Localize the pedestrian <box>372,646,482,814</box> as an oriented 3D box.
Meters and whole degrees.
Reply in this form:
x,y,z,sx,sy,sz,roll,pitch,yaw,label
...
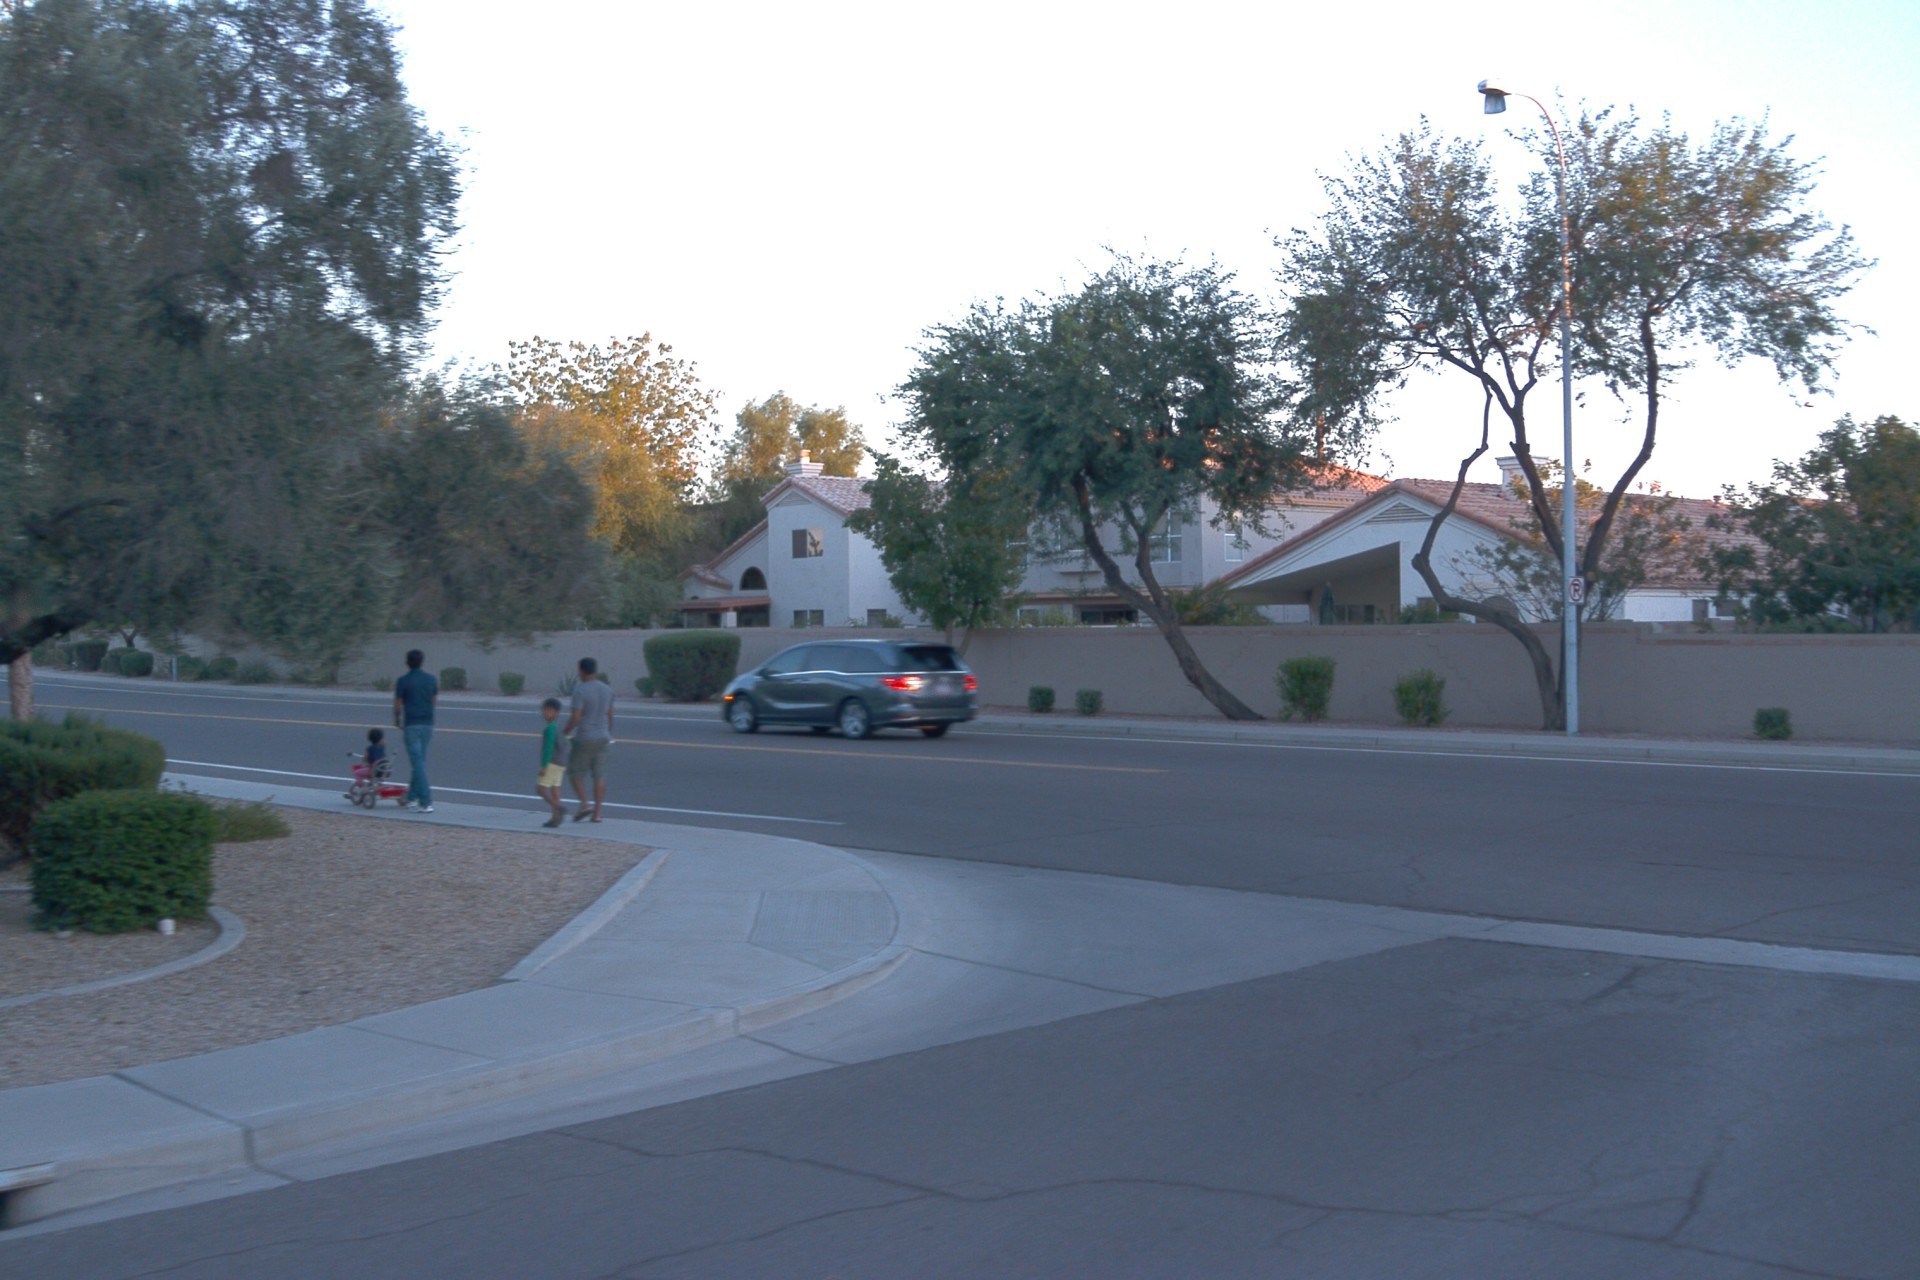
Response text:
x,y,z,sx,sy,sz,roll,pitch,yaw,label
-5.843,0.966,22.711,0.923,1.780,0.781,1,1,41,pedestrian

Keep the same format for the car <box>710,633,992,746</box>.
x,y,z,sx,sy,sz,roll,pitch,yaw,label
-1.988,0.799,36.403,2.206,1.780,4.998,0,1,-44,car

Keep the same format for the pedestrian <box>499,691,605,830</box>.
x,y,z,sx,sy,sz,roll,pitch,yaw,label
-4.045,1.177,20.539,0.748,1.300,0.742,0,1,-44,pedestrian

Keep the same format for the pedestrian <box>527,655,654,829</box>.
x,y,z,sx,sy,sz,roll,pitch,yaw,label
-3.767,1.010,21.104,0.910,1.690,0.944,0,1,-42,pedestrian

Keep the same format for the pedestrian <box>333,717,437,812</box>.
x,y,z,sx,sy,sz,roll,pitch,yaw,label
-6.439,1.381,23.183,1.055,0.980,0.634,1,1,40,pedestrian
